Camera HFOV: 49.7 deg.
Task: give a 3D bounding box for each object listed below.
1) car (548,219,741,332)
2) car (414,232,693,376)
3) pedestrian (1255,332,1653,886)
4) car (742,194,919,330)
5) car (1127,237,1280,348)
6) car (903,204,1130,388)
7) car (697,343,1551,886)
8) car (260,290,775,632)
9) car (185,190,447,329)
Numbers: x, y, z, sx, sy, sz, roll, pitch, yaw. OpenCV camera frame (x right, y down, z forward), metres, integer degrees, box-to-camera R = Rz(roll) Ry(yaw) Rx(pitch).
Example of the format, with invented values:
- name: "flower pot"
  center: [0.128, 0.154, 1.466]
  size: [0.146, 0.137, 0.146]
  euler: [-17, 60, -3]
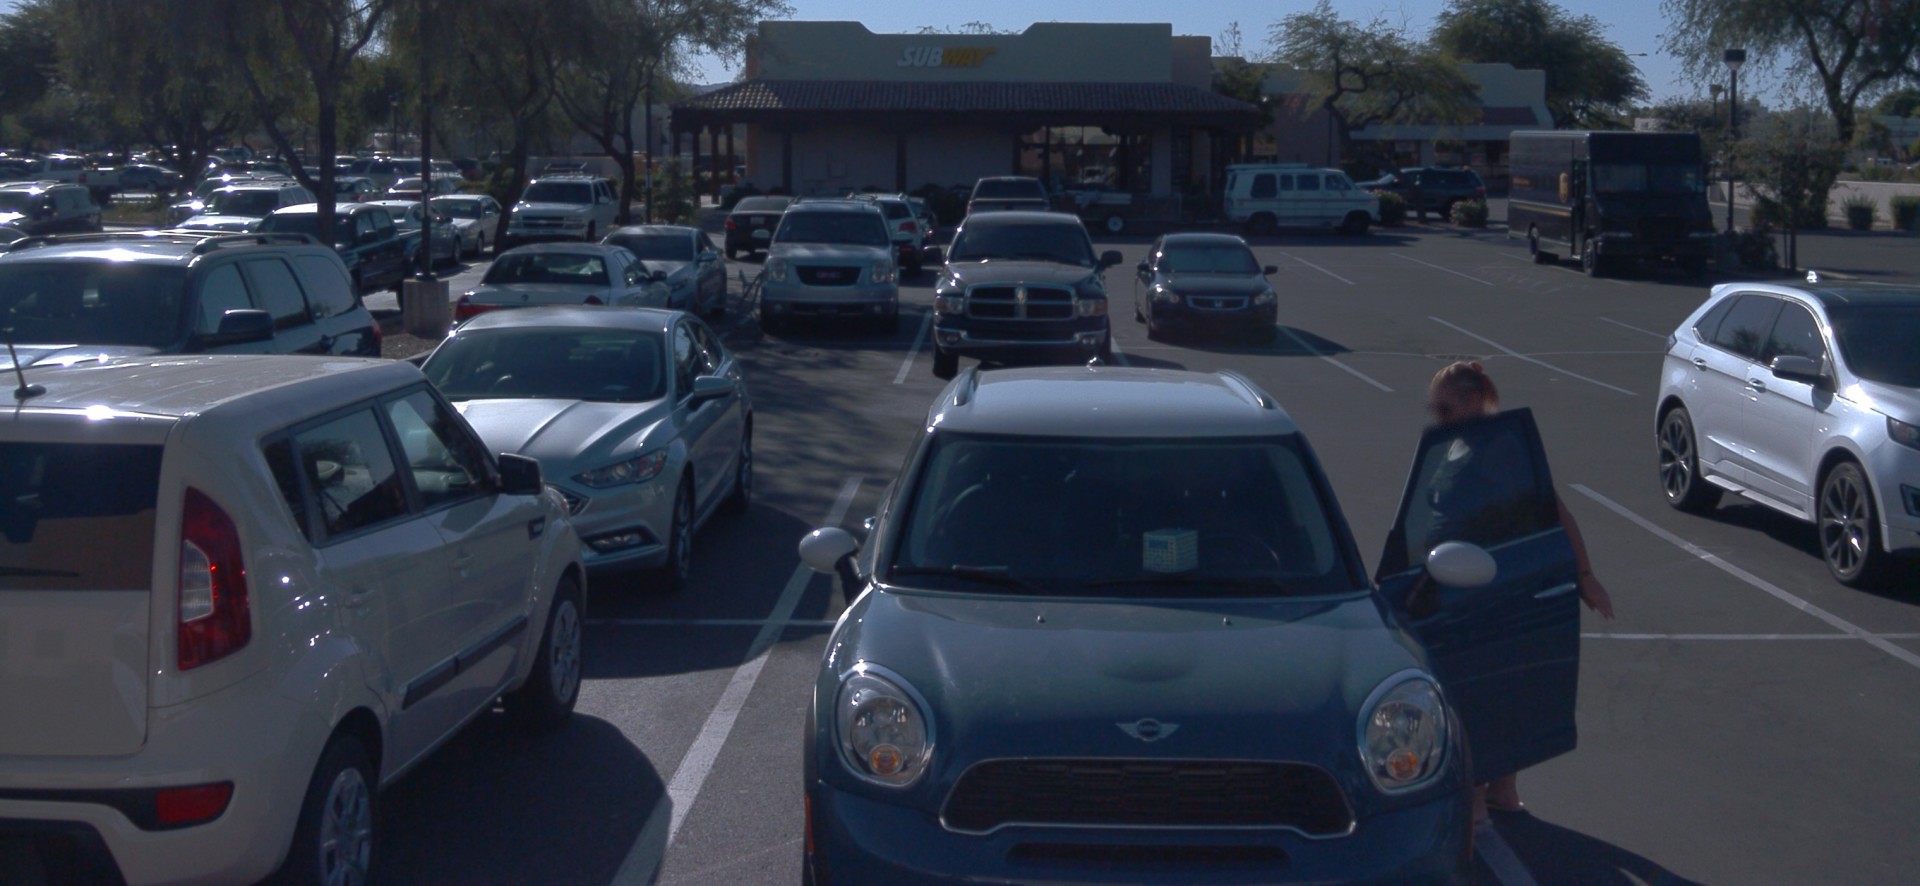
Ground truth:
- name: "car"
  center: [-4.669, -2.590, 31.408]
  size: [2.127, 1.553, 4.508]
  euler: [1, 6, 1]
- name: "car"
  center: [-4.905, -1.828, 25.879]
  size: [2.256, 1.562, 5.128]
  euler: [1, 6, 2]
- name: "pedestrian"
  center: [1.711, 0.519, 7.232]
  size: [0.969, 1.747, 0.923]
  euler: [-1, 2, -35]
- name: "car"
  center: [-1.908, -2.840, 31.954]
  size: [2.481, 1.891, 5.238]
  euler: [0, 5, -2]
- name: "car"
  center: [3.587, -2.326, 31.296]
  size: [1.976, 1.493, 4.499]
  euler: [1, 6, 3]
- name: "car"
  center: [0.701, -1.948, 26.105]
  size: [2.523, 2.021, 5.785]
  euler: [1, 6, 1]
- name: "car"
  center: [0.431, 0.593, 6.891]
  size: [1.995, 1.593, 4.019]
  euler: [1, 5, 1]
- name: "car"
  center: [-2.438, -0.081, 12.810]
  size: [2.169, 1.543, 4.762]
  euler: [1, 6, 0]
- name: "car"
  center: [-9.666, -2.849, 31.659]
  size: [2.086, 1.901, 5.343]
  euler: [1, 5, 3]
